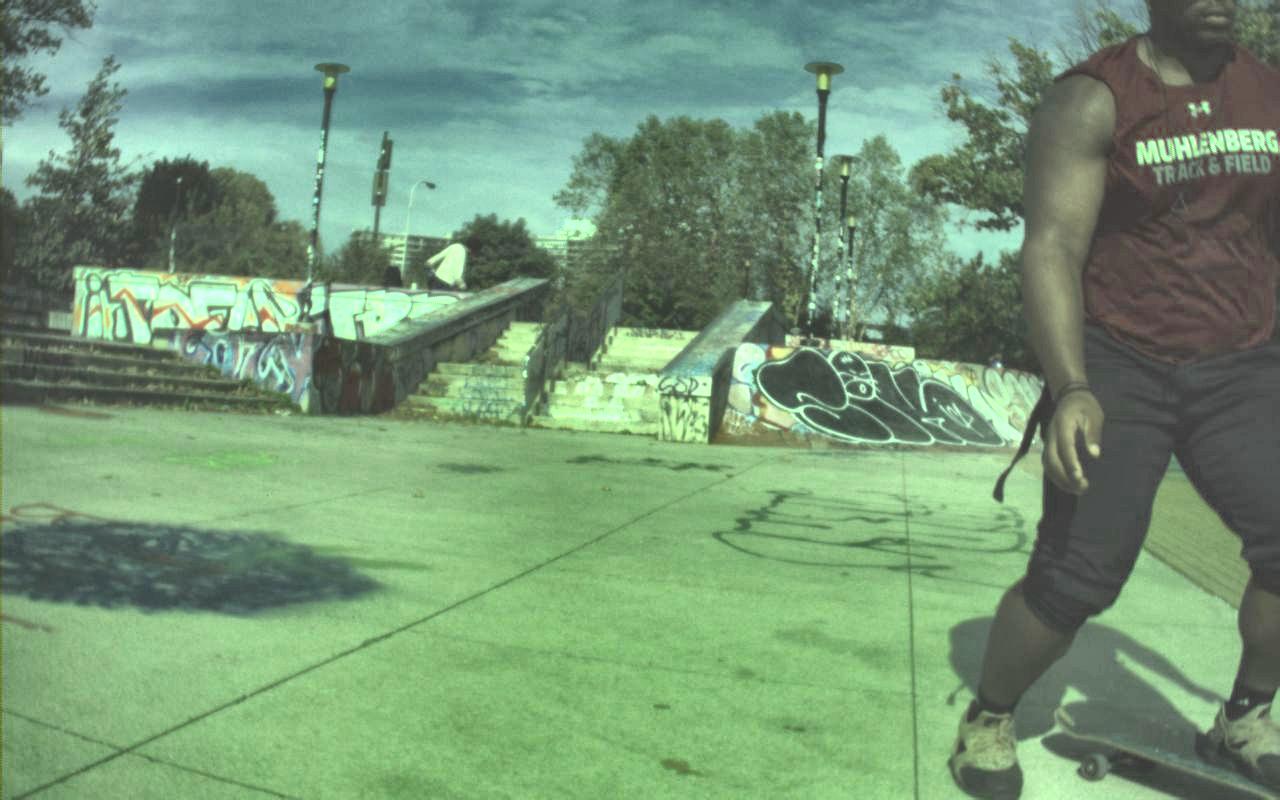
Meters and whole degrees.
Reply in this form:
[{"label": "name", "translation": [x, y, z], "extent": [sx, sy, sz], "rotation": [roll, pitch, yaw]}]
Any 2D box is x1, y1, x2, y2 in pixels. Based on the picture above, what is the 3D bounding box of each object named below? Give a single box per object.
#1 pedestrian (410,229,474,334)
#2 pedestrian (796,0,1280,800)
[{"label": "pedestrian", "translation": [-3.532, -2.074, 22.226], "extent": [0.791, 1.805, 0.802], "rotation": [1, 0, 27]}, {"label": "pedestrian", "translation": [0.785, -0.009, 1.843], "extent": [0.835, 1.630, 0.911], "rotation": [0, 0, -10]}]
